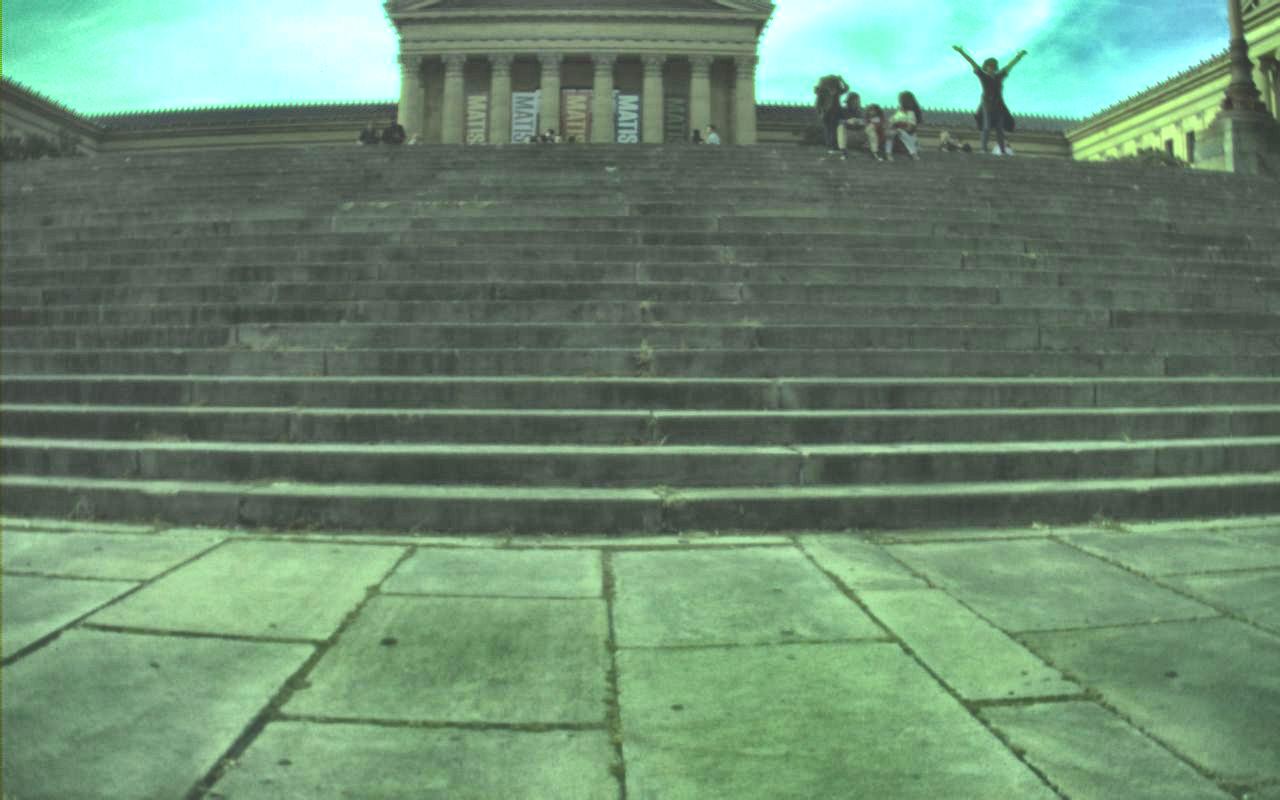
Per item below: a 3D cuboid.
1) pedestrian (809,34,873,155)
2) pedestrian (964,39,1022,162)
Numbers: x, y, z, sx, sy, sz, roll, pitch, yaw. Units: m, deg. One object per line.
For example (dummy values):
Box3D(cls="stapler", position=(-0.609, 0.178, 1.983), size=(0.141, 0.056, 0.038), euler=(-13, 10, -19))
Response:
Box3D(cls="pedestrian", position=(2.897, -4.390, 17.742), size=(0.698, 1.608, 0.706), euler=(0, 0, -12))
Box3D(cls="pedestrian", position=(5.492, -4.648, 18.749), size=(0.768, 1.815, 0.763), euler=(0, 0, 10))
